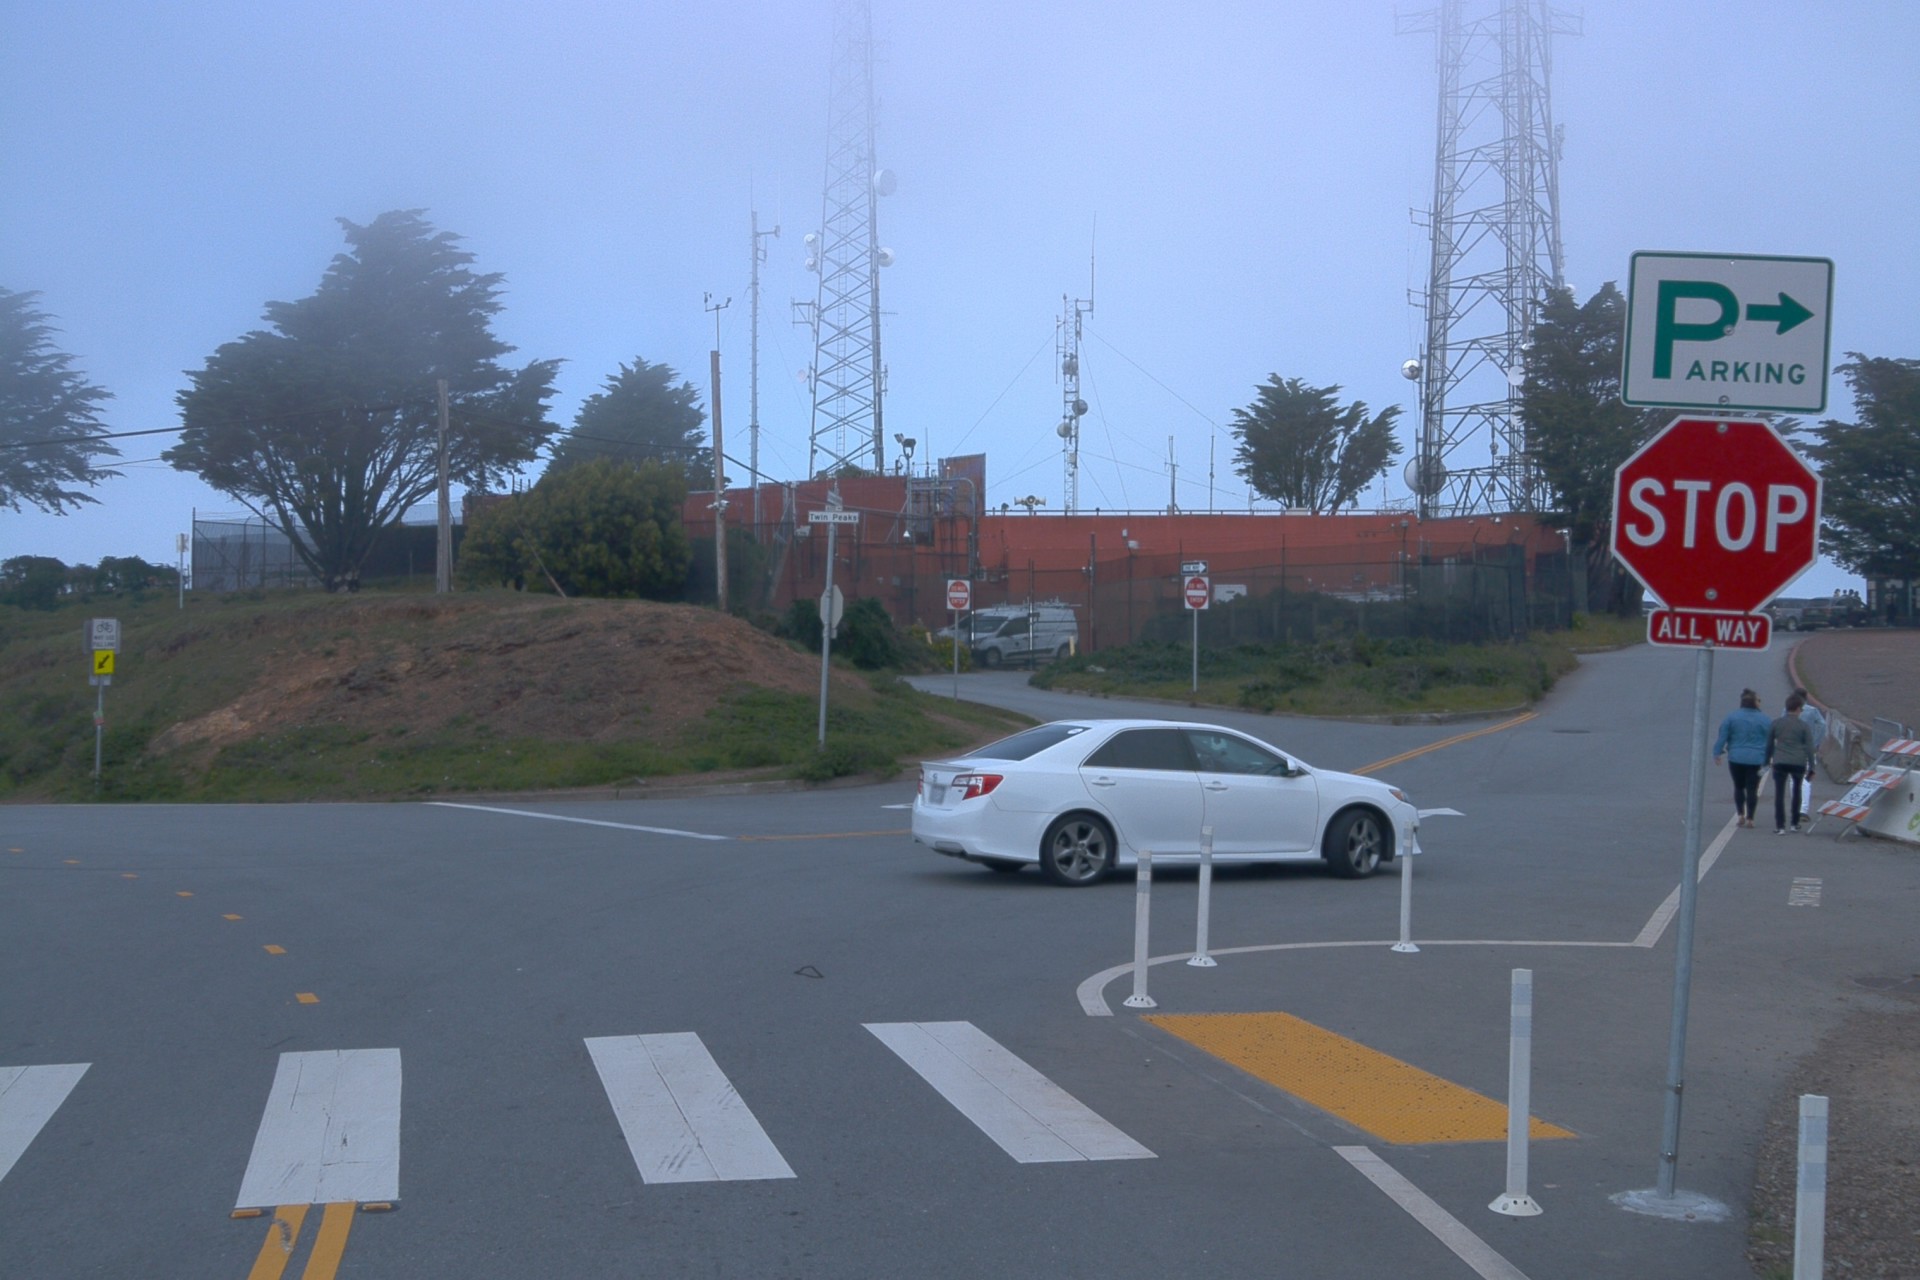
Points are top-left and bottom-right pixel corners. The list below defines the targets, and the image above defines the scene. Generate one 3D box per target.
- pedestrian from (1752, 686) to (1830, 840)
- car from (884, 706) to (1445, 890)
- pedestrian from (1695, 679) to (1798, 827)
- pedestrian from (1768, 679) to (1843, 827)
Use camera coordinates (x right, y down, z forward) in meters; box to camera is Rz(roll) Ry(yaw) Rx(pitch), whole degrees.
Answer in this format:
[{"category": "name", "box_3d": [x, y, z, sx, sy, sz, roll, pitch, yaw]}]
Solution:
[{"category": "pedestrian", "box_3d": [9.624, 1.398, 23.976, 0.733, 1.720, 1.094, 0, 0, 27]}, {"category": "car", "box_3d": [1.880, 1.385, 19.204, 4.694, 1.440, 2.174, 0, 0, -22]}, {"category": "pedestrian", "box_3d": [9.497, 1.344, 25.058, 1.112, 1.730, 1.063, 0, 0, 18]}, {"category": "pedestrian", "box_3d": [10.608, 1.398, 25.977, 0.818, 1.790, 0.934, 0, 0, 25]}]
